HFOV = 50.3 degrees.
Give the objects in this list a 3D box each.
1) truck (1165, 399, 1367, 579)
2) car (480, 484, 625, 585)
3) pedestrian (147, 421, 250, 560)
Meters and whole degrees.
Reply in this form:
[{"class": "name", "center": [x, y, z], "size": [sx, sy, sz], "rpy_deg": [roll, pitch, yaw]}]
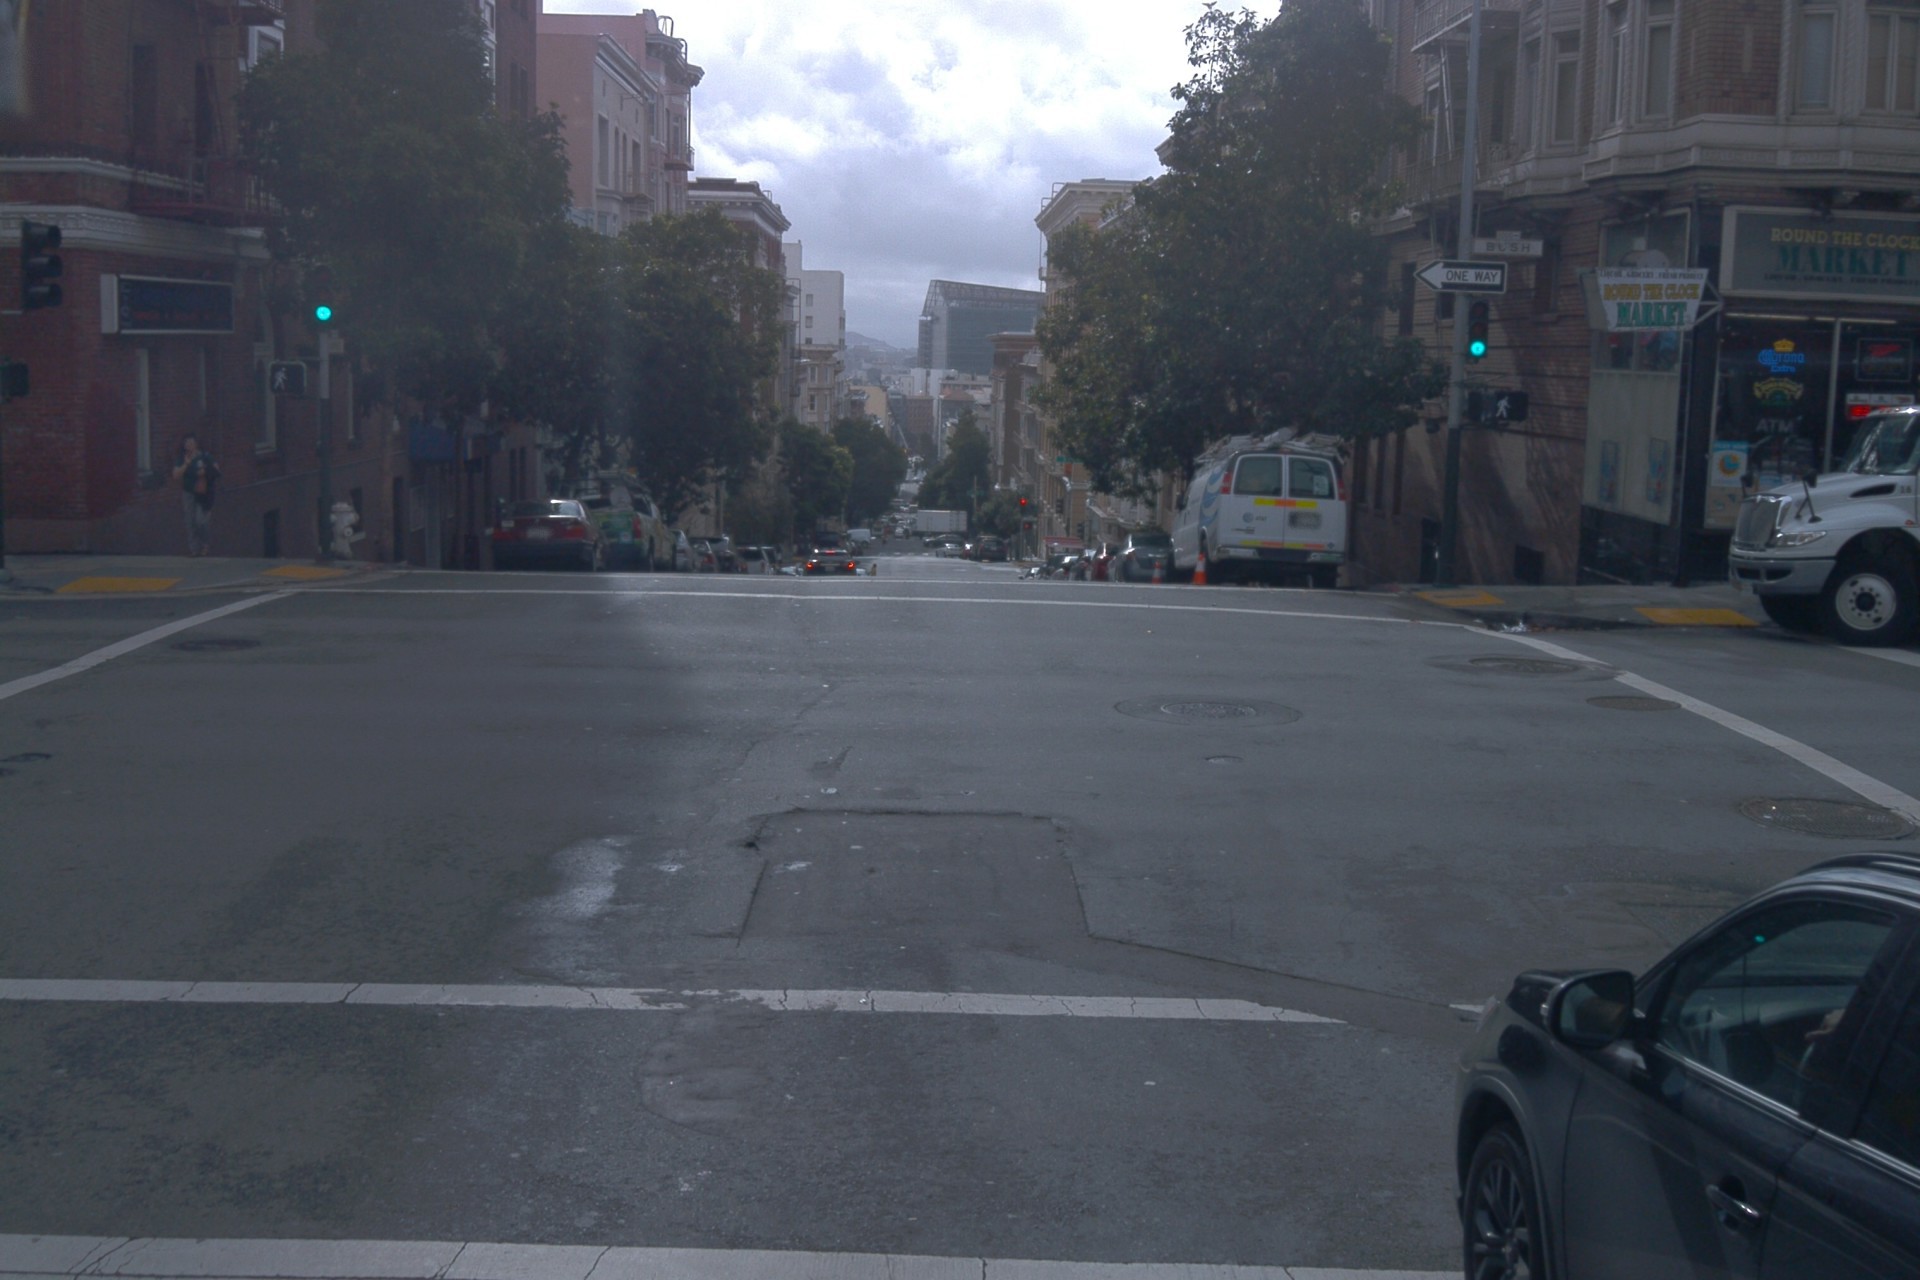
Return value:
[{"class": "truck", "center": [4.627, -2.237, 31.792], "size": [2.117, 2.450, 5.100], "rpy_deg": [1, 1, -3]}, {"class": "car", "center": [-6.886, -1.749, 34.918], "size": [1.759, 1.530, 4.100], "rpy_deg": [1, 1, -2]}, {"class": "pedestrian", "center": [-9.811, -1.913, 26.391], "size": [0.930, 1.717, 1.087], "rpy_deg": [1, 1, -3]}]
